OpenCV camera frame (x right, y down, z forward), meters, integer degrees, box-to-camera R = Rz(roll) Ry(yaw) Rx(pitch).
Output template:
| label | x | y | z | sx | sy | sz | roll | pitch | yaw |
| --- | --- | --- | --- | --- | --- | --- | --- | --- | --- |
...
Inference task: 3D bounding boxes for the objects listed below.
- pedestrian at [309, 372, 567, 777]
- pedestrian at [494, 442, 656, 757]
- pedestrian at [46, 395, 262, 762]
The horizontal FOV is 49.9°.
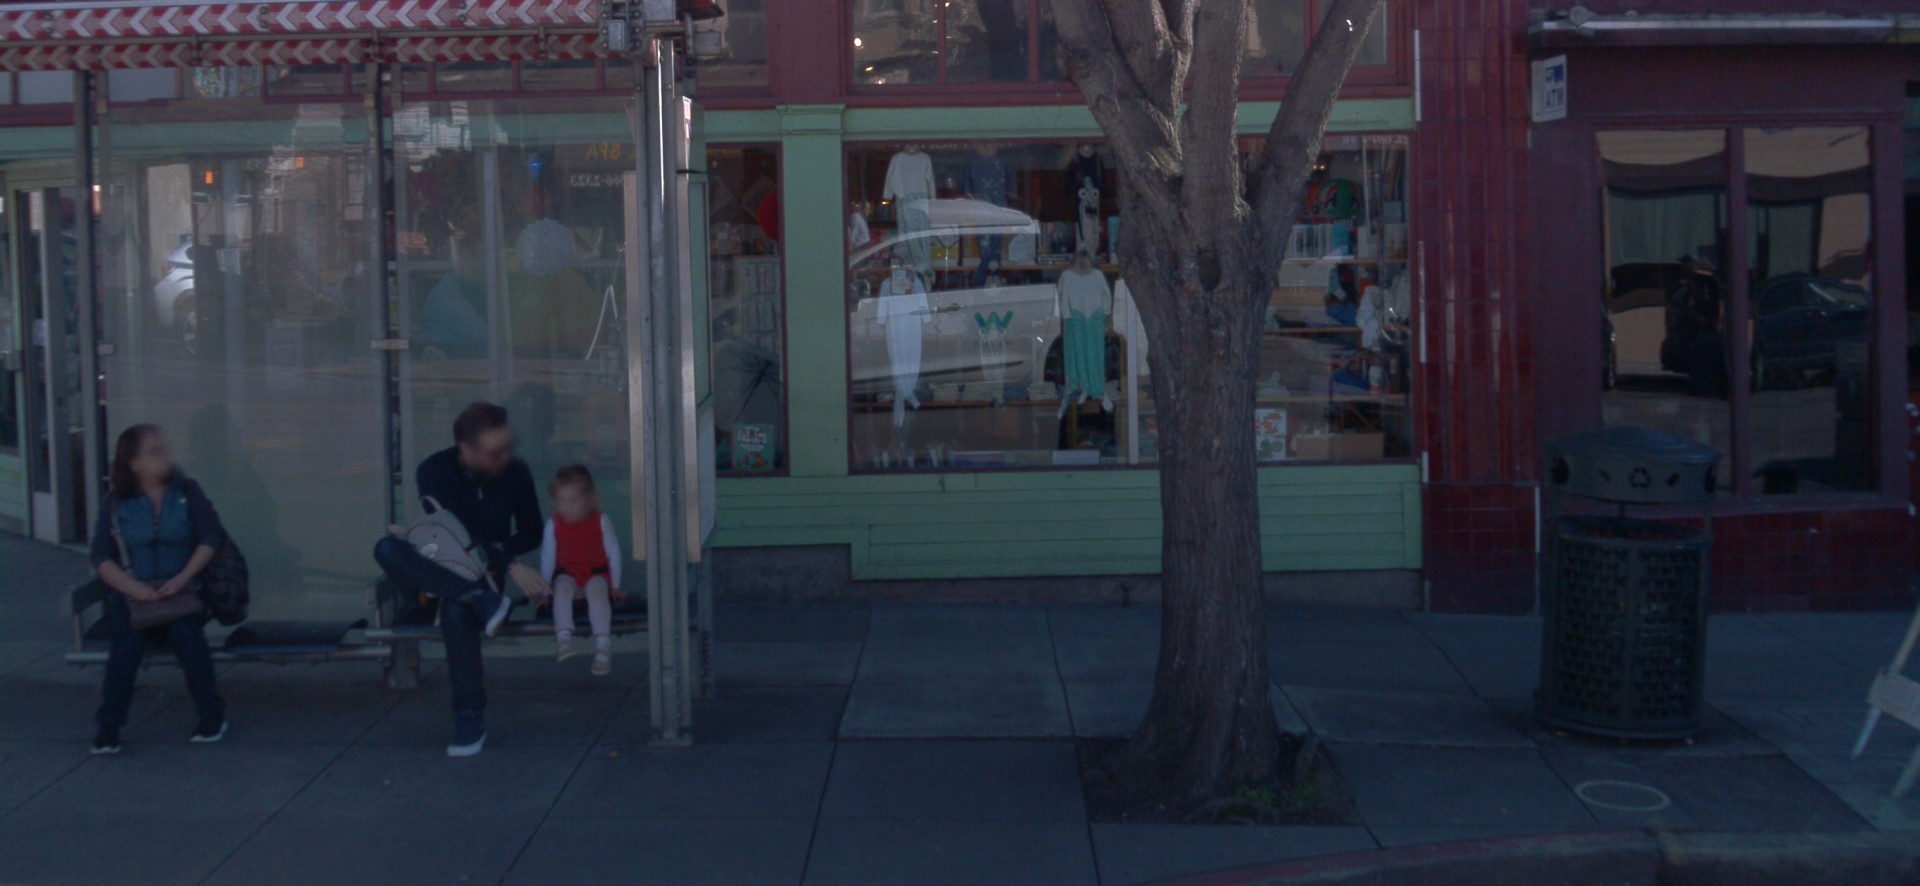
| label | x | y | z | sx | sy | sz | roll | pitch | yaw |
| --- | --- | --- | --- | --- | --- | --- | --- | --- | --- |
| pedestrian | -1.986 | 0.465 | 7.975 | 0.753 | 1.398 | 0.926 | 0 | 2 | 0 |
| pedestrian | -1.474 | 0.582 | 7.967 | 0.528 | 1.098 | 0.572 | 0 | 2 | -3 |
| pedestrian | -3.124 | 0.486 | 8.061 | 0.737 | 1.258 | 0.794 | -1 | 2 | -19 |
